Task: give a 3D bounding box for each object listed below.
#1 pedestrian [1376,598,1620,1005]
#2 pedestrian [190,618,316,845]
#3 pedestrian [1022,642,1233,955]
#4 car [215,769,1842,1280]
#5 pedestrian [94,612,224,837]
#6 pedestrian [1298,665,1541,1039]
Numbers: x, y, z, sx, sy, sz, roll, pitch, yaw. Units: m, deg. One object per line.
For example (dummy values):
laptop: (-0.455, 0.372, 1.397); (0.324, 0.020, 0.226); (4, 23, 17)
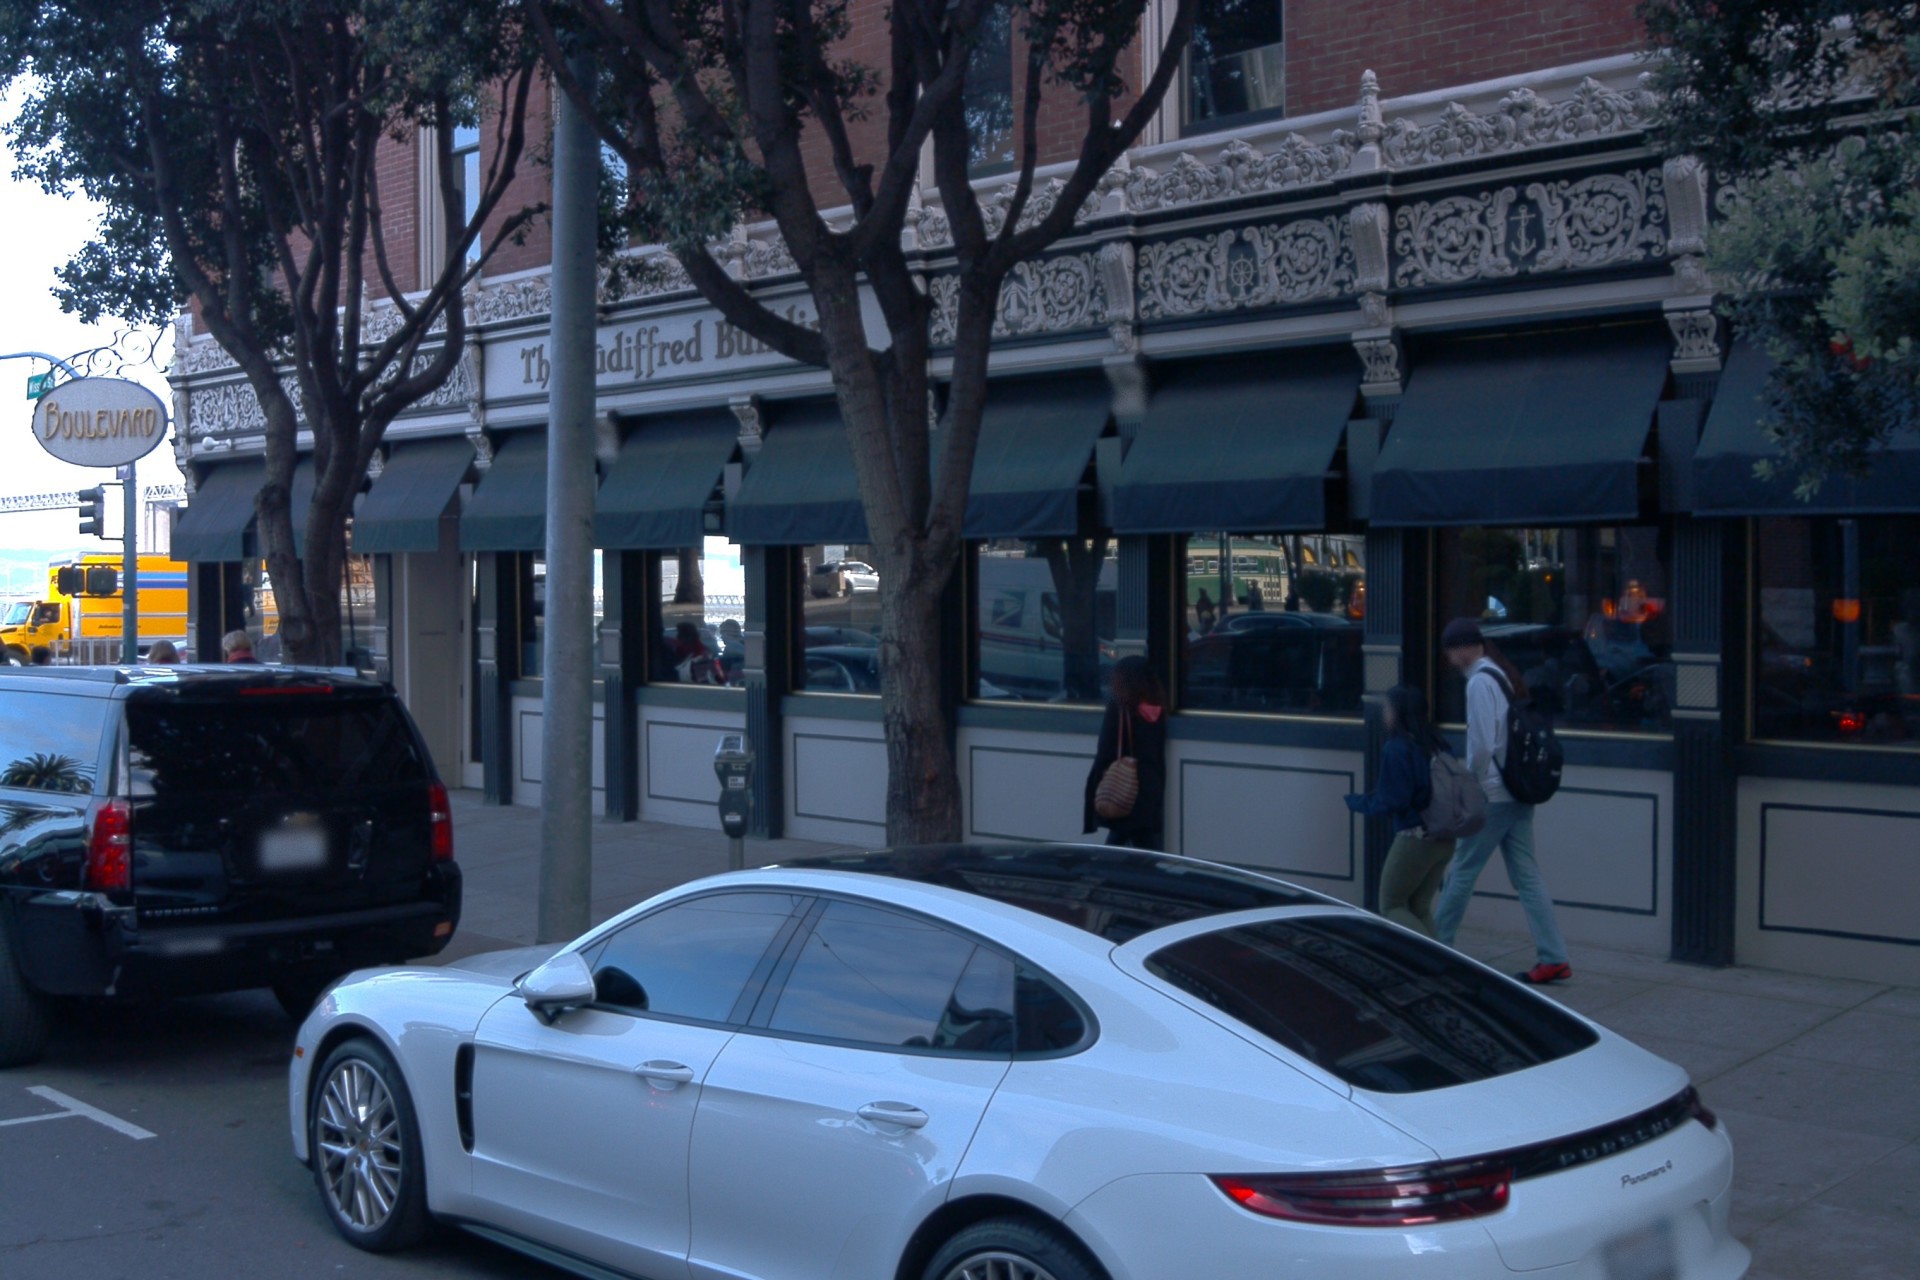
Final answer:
pedestrian: (2.690, 0.757, 10.287); (0.917, 1.920, 0.771); (0, 0, 44)
pedestrian: (-6.067, 0.755, 17.641); (0.726, 1.890, 0.814); (0, 0, -45)
pedestrian: (0.957, 0.865, 11.805); (0.934, 1.690, 0.759); (0, 0, 43)
car: (-0.176, 1.287, 6.246); (4.856, 1.450, 1.994); (0, 1, 44)
pedestrian: (-6.717, 0.684, 17.239); (0.814, 1.828, 0.726); (0, 0, 44)
pedestrian: (2.177, 0.957, 9.762); (0.895, 1.650, 0.692); (0, 0, 43)
